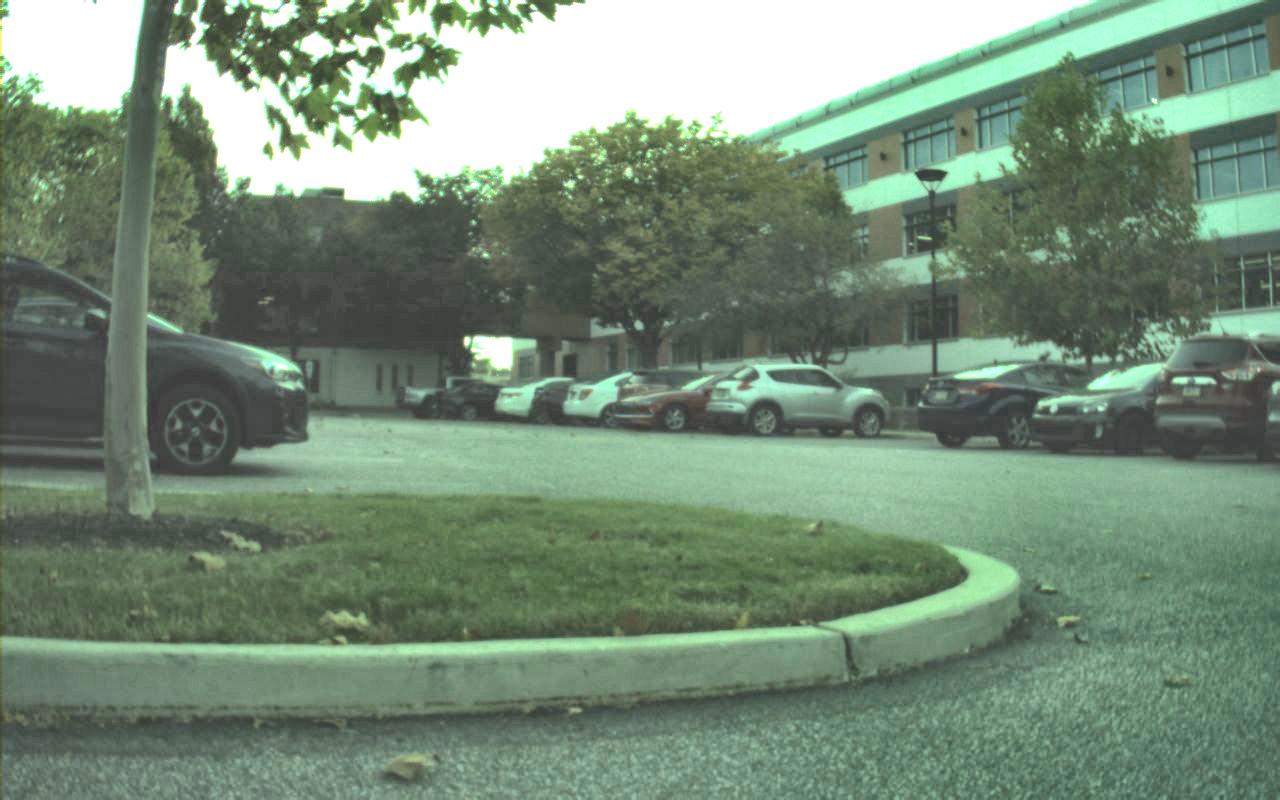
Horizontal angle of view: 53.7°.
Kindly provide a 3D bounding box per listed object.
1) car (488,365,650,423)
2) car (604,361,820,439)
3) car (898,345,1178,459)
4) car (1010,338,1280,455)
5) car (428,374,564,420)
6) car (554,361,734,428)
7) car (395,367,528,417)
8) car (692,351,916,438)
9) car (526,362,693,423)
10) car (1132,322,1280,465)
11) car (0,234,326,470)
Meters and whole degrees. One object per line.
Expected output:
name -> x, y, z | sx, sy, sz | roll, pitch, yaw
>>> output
car -> -2.189, -0.204, 38.703 | 4.593, 1.719, 1.990 | 0, 1, -22
car -> 1.650, -0.035, 28.941 | 4.561, 1.680, 1.966 | 0, 1, -19
car -> 6.570, 0.008, 19.696 | 4.576, 1.655, 1.963 | 0, 1, -24
car -> 7.706, -0.053, 17.575 | 4.375, 1.557, 1.895 | 0, 1, -23
car -> -5.254, -0.116, 45.729 | 4.602, 1.600, 1.955 | 0, 1, -32
car -> 0.088, -0.179, 34.195 | 4.509, 1.727, 1.972 | 0, 1, -18
car -> -7.210, -0.327, 50.371 | 5.024, 1.917, 2.092 | 0, 1, -25
car -> 3.537, -0.140, 26.927 | 4.454, 1.746, 1.943 | 0, 1, -22
car -> -0.900, -0.235, 36.423 | 4.430, 1.655, 1.945 | 0, 1, -22
car -> 8.678, -0.073, 15.268 | 4.448, 1.676, 1.934 | 0, 1, -28
car -> -4.772, -0.323, 8.780 | 4.569, 1.645, 1.985 | 0, 1, -26
